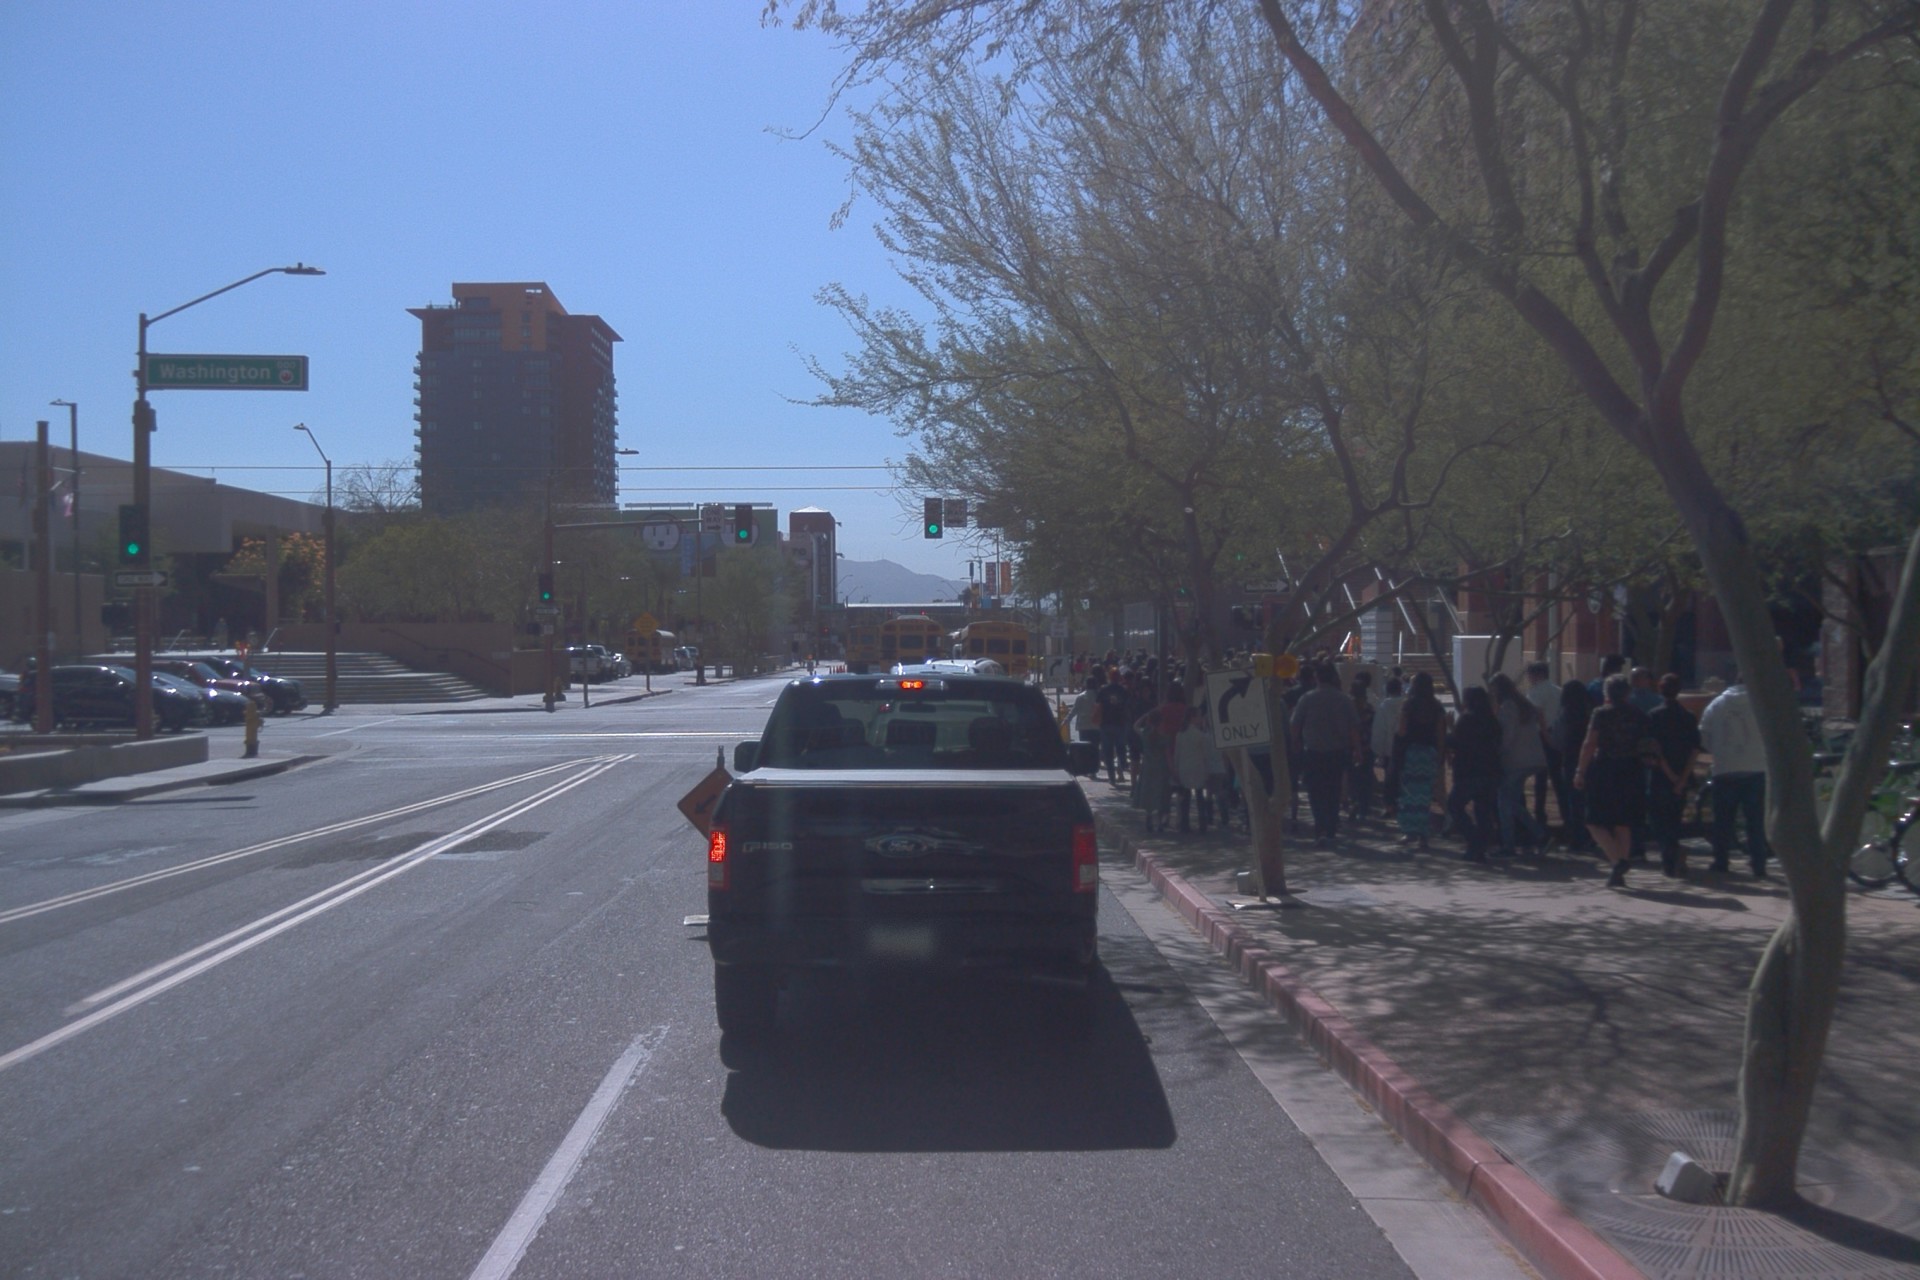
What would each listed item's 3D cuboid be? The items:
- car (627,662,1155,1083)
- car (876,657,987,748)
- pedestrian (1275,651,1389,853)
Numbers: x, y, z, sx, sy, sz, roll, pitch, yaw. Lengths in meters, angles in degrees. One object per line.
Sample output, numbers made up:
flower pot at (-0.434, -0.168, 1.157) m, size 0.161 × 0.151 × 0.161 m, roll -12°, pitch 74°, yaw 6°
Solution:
car at (-0.304, 1.124, 12.505) m, size 2.487 × 1.950 × 5.329 m, roll 0°, pitch 0°, yaw 1°
car at (-0.422, 1.007, 35.197) m, size 1.753 × 1.430 × 4.270 m, roll 0°, pitch 0°, yaw 1°
pedestrian at (3.578, 1.064, 20.091) m, size 0.959 × 1.900 × 0.880 m, roll 0°, pitch 0°, yaw 2°
